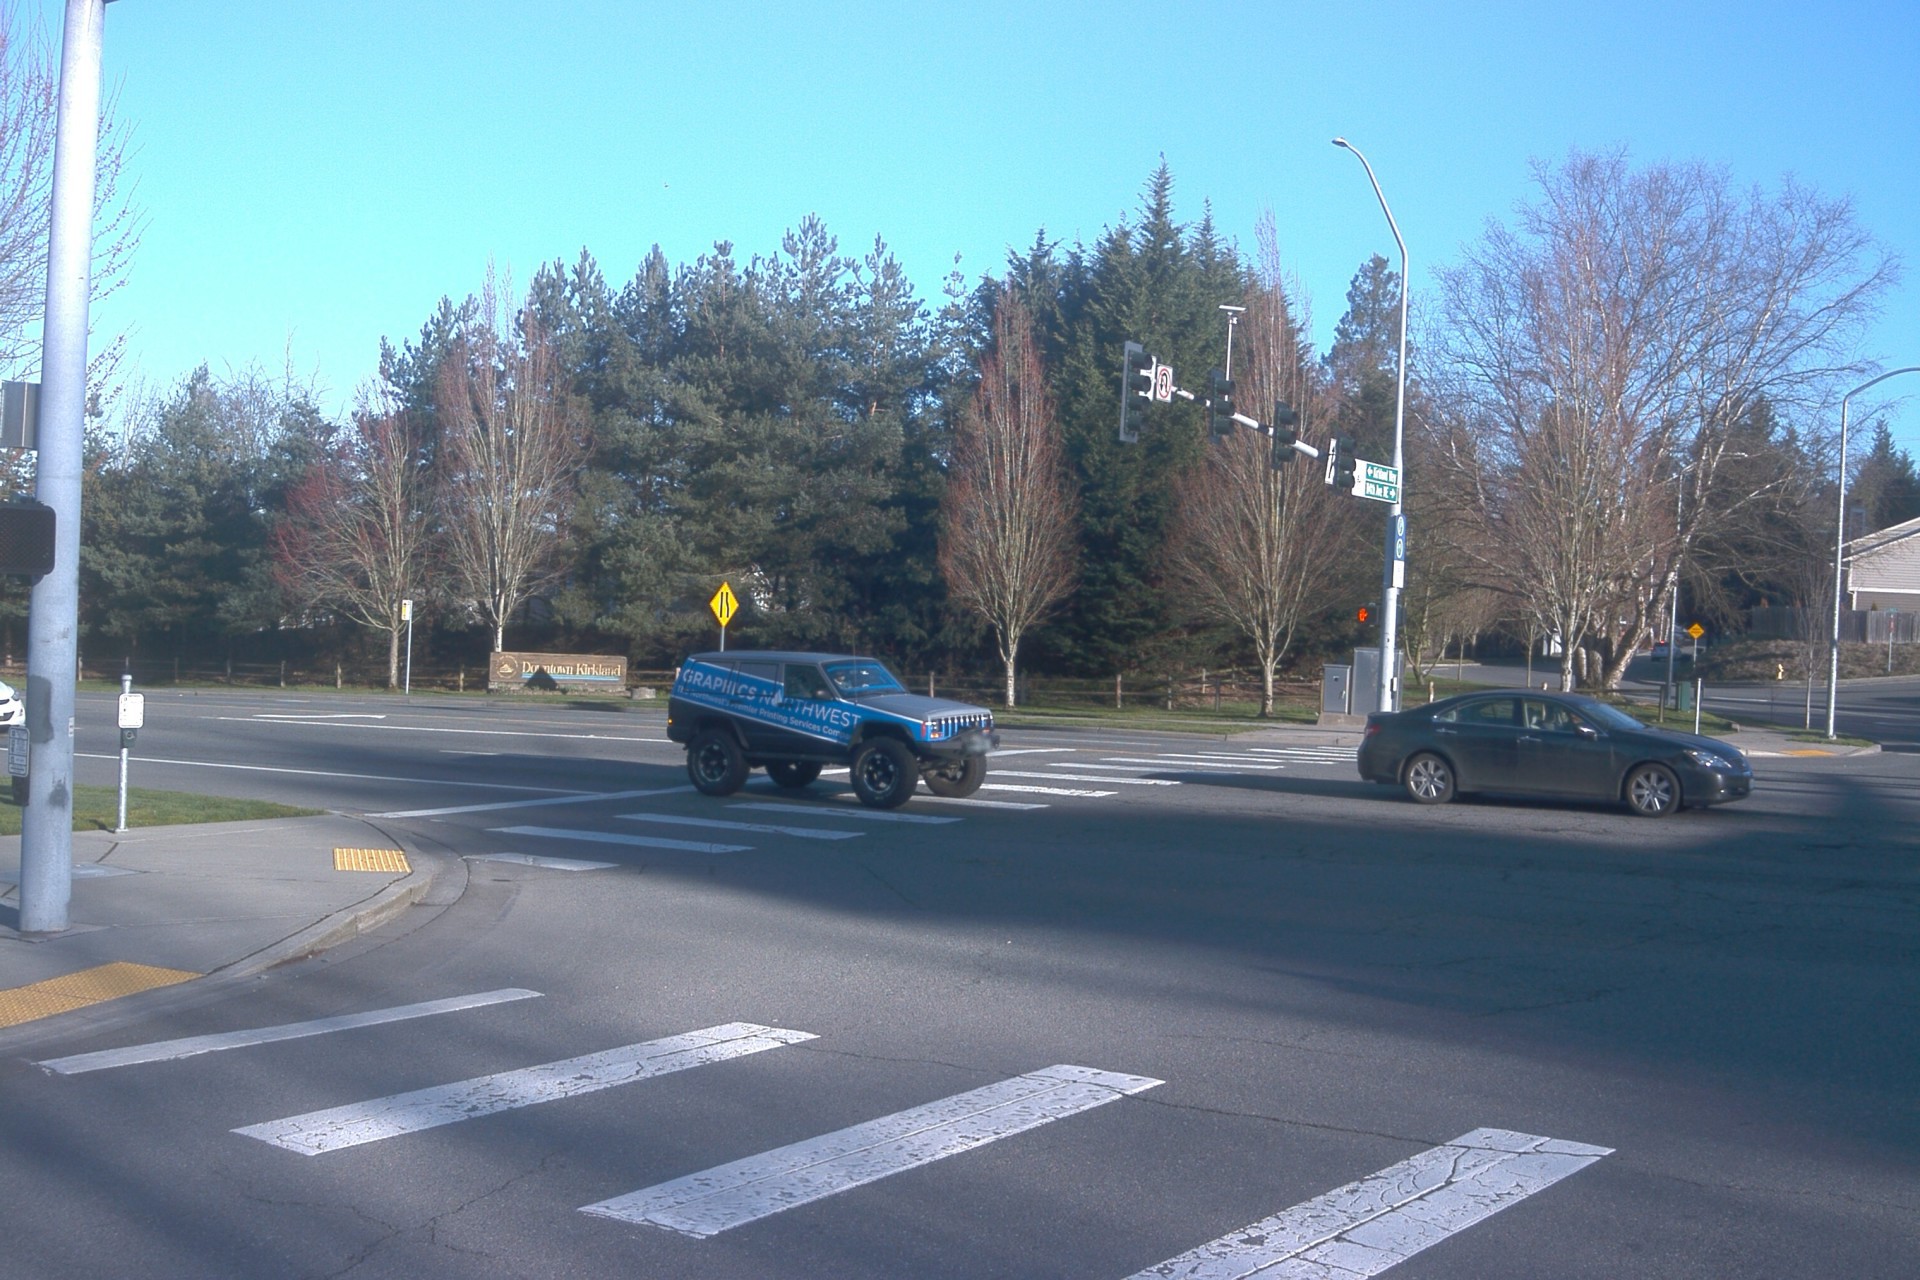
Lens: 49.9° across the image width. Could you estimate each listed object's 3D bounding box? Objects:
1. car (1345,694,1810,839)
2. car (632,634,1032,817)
[{"bbox_3d":[7.525,1.467,25.323,5.061,1.440,2.161,1,1,32],"label":"car"},{"bbox_3d":[-1.647,0.978,25.975,4.713,2.070,2.047,1,1,33],"label":"car"}]
